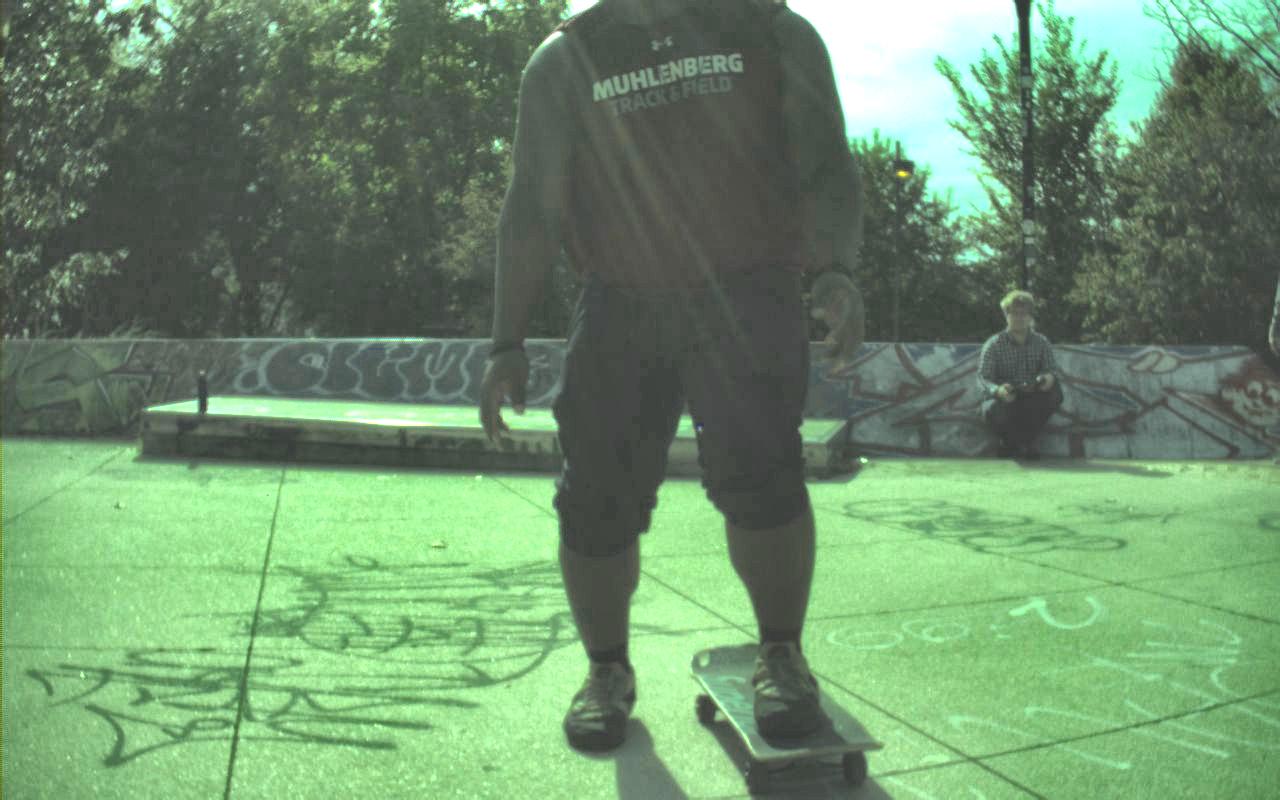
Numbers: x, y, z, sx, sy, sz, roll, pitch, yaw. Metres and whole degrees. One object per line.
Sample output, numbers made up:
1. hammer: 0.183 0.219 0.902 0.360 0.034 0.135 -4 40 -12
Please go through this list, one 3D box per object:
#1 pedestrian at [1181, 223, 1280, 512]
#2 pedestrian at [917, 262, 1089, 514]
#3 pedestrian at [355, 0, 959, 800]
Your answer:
1. pedestrian: 4.046 -0.187 7.311 0.839 1.751 0.803 0 0 -21
2. pedestrian: 2.426 -0.079 8.110 0.835 1.566 0.858 0 0 -43
3. pedestrian: -0.017 0.037 2.054 0.870 1.760 0.897 0 0 -6
